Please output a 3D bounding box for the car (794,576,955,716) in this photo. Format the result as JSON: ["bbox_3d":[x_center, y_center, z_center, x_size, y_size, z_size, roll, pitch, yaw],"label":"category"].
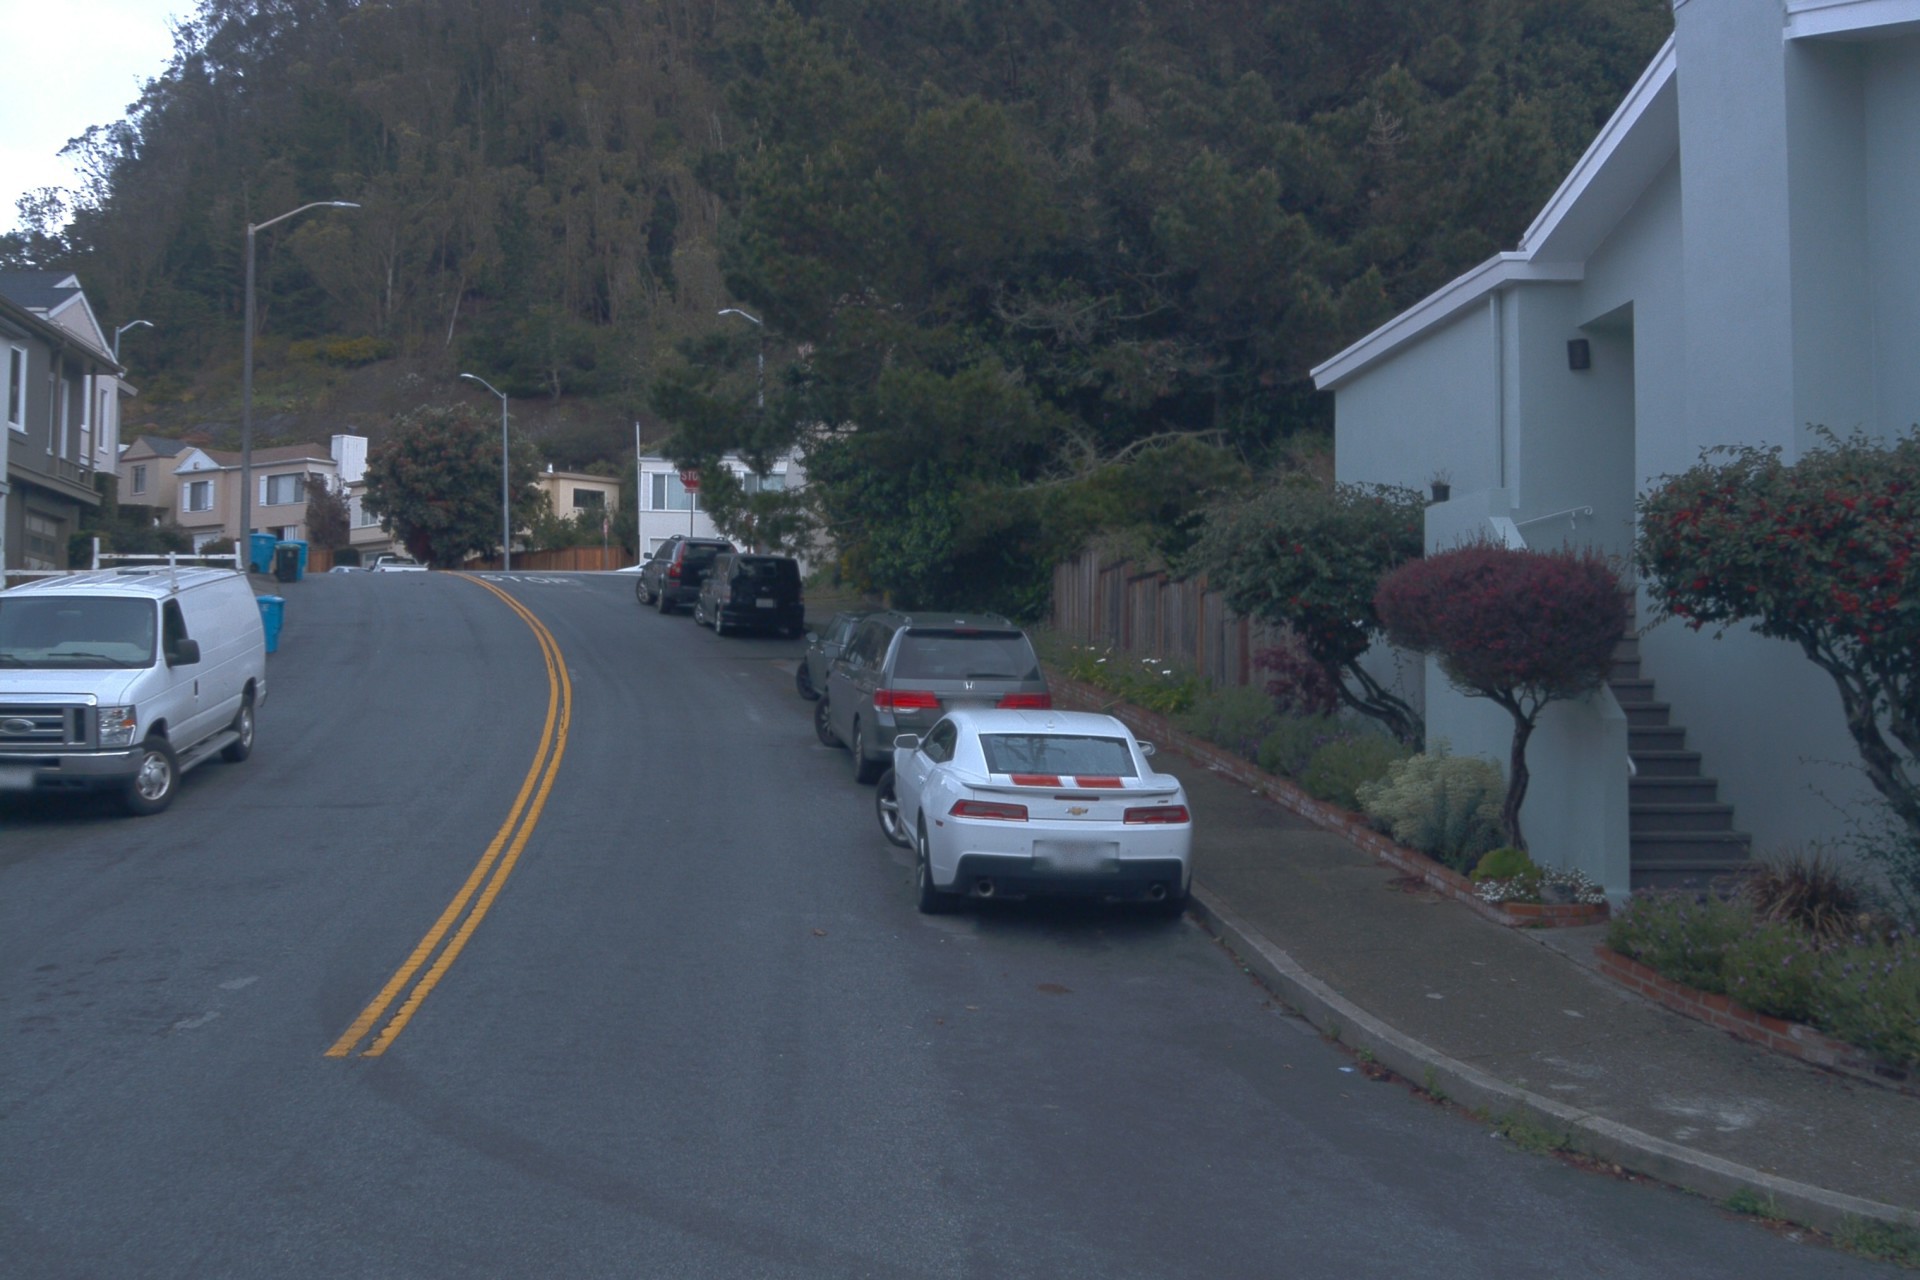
[{"bbox_3d":[-1.242,0.086,28.638,1.722,1.820,3.407,0,0,-11],"label":"car"}]

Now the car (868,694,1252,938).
[{"bbox_3d":[0.568,1.227,16.247,2.199,1.510,4.906,0,0,-7],"label":"car"}]

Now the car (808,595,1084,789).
[{"bbox_3d":[-0.300,0.524,22.849,2.317,1.910,4.709,0,0,-10],"label":"car"}]
